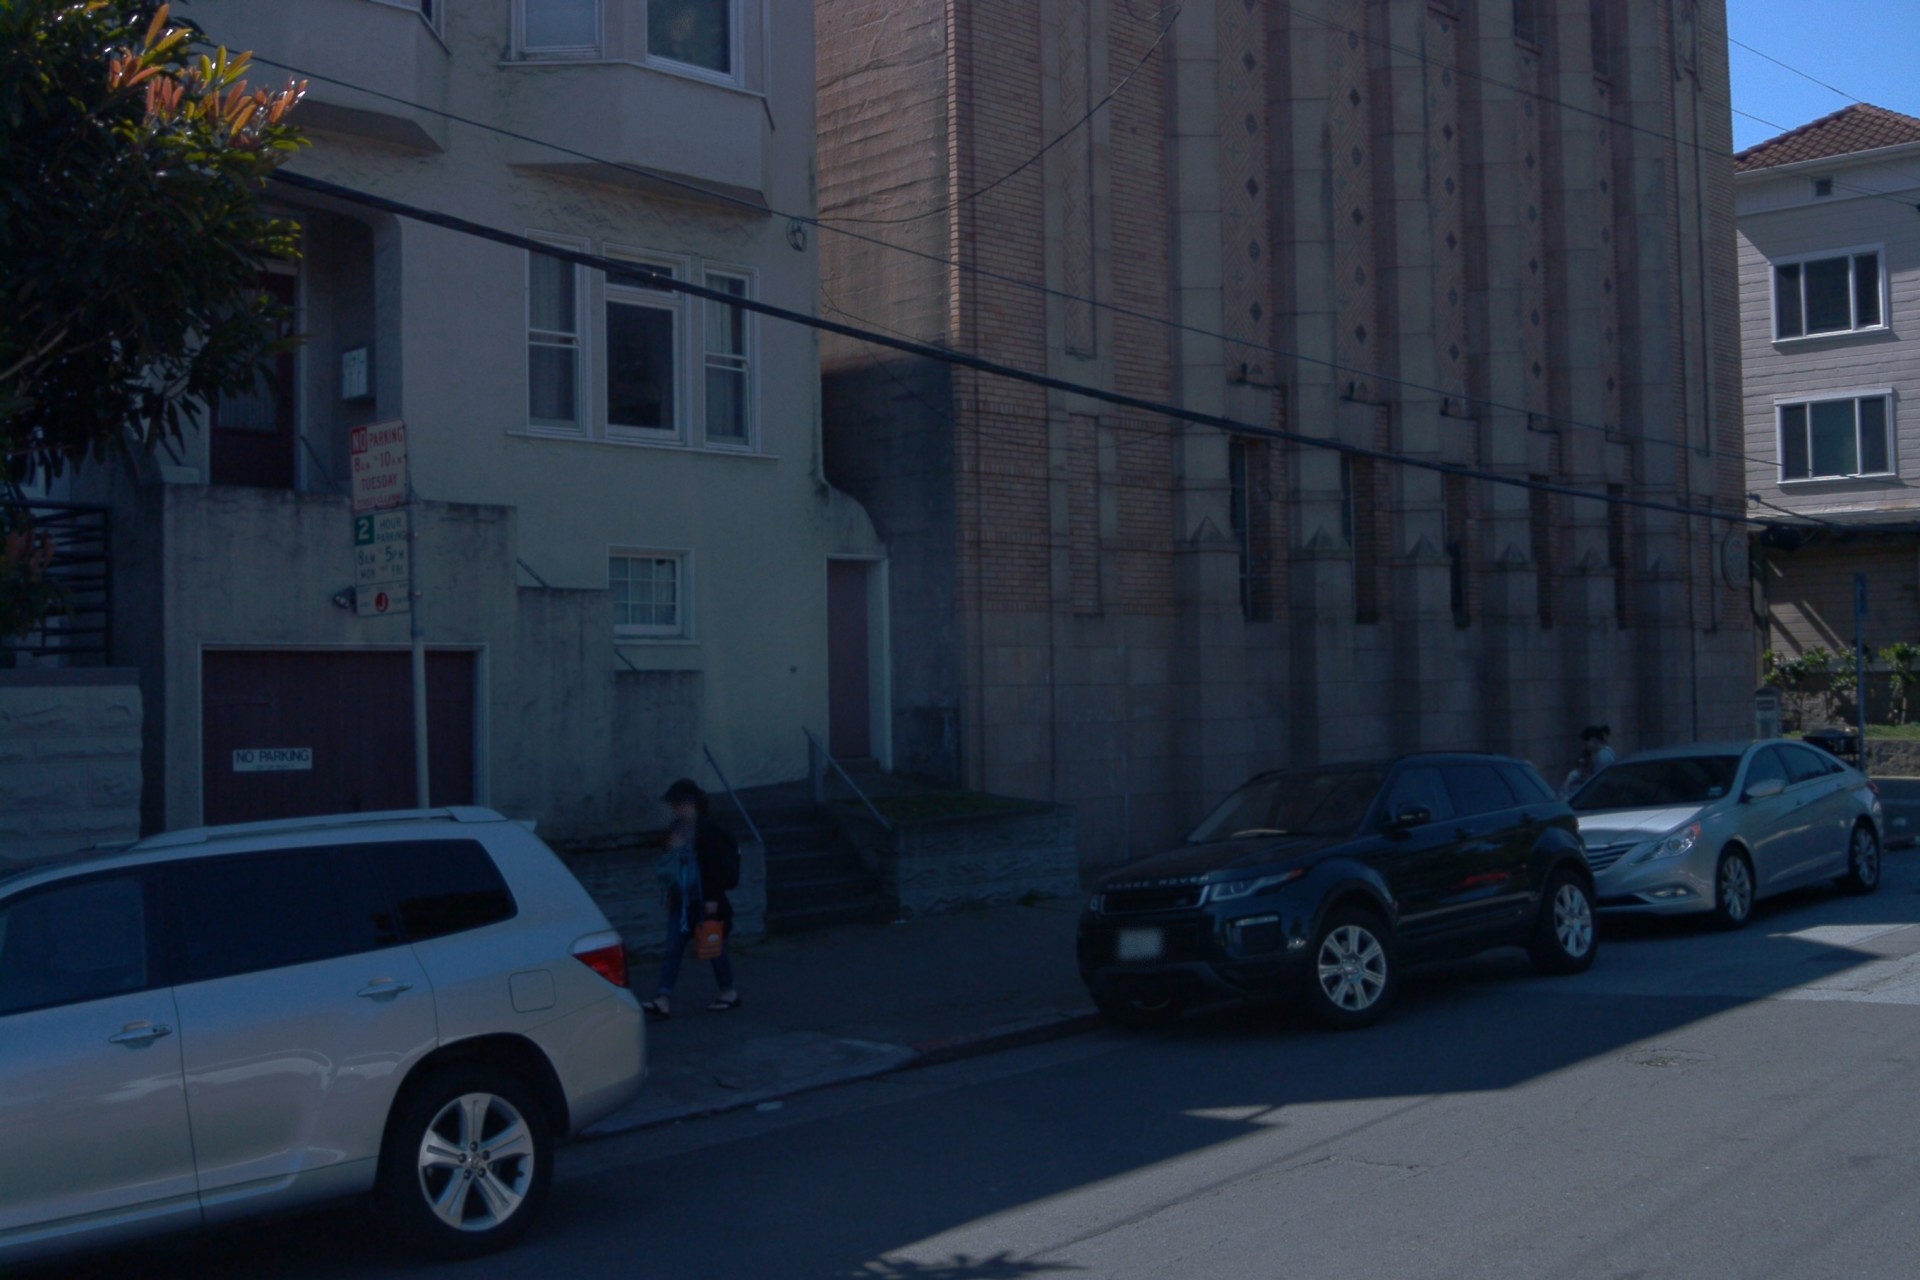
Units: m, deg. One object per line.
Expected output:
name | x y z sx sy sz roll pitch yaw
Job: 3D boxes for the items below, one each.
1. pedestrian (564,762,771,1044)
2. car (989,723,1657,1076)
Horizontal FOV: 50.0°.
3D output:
pedestrian | -1.885 1.649 13.230 0.969 1.630 0.915 -1 1 -42
car | 2.560 1.531 13.737 4.568 1.690 2.153 -1 1 -45
